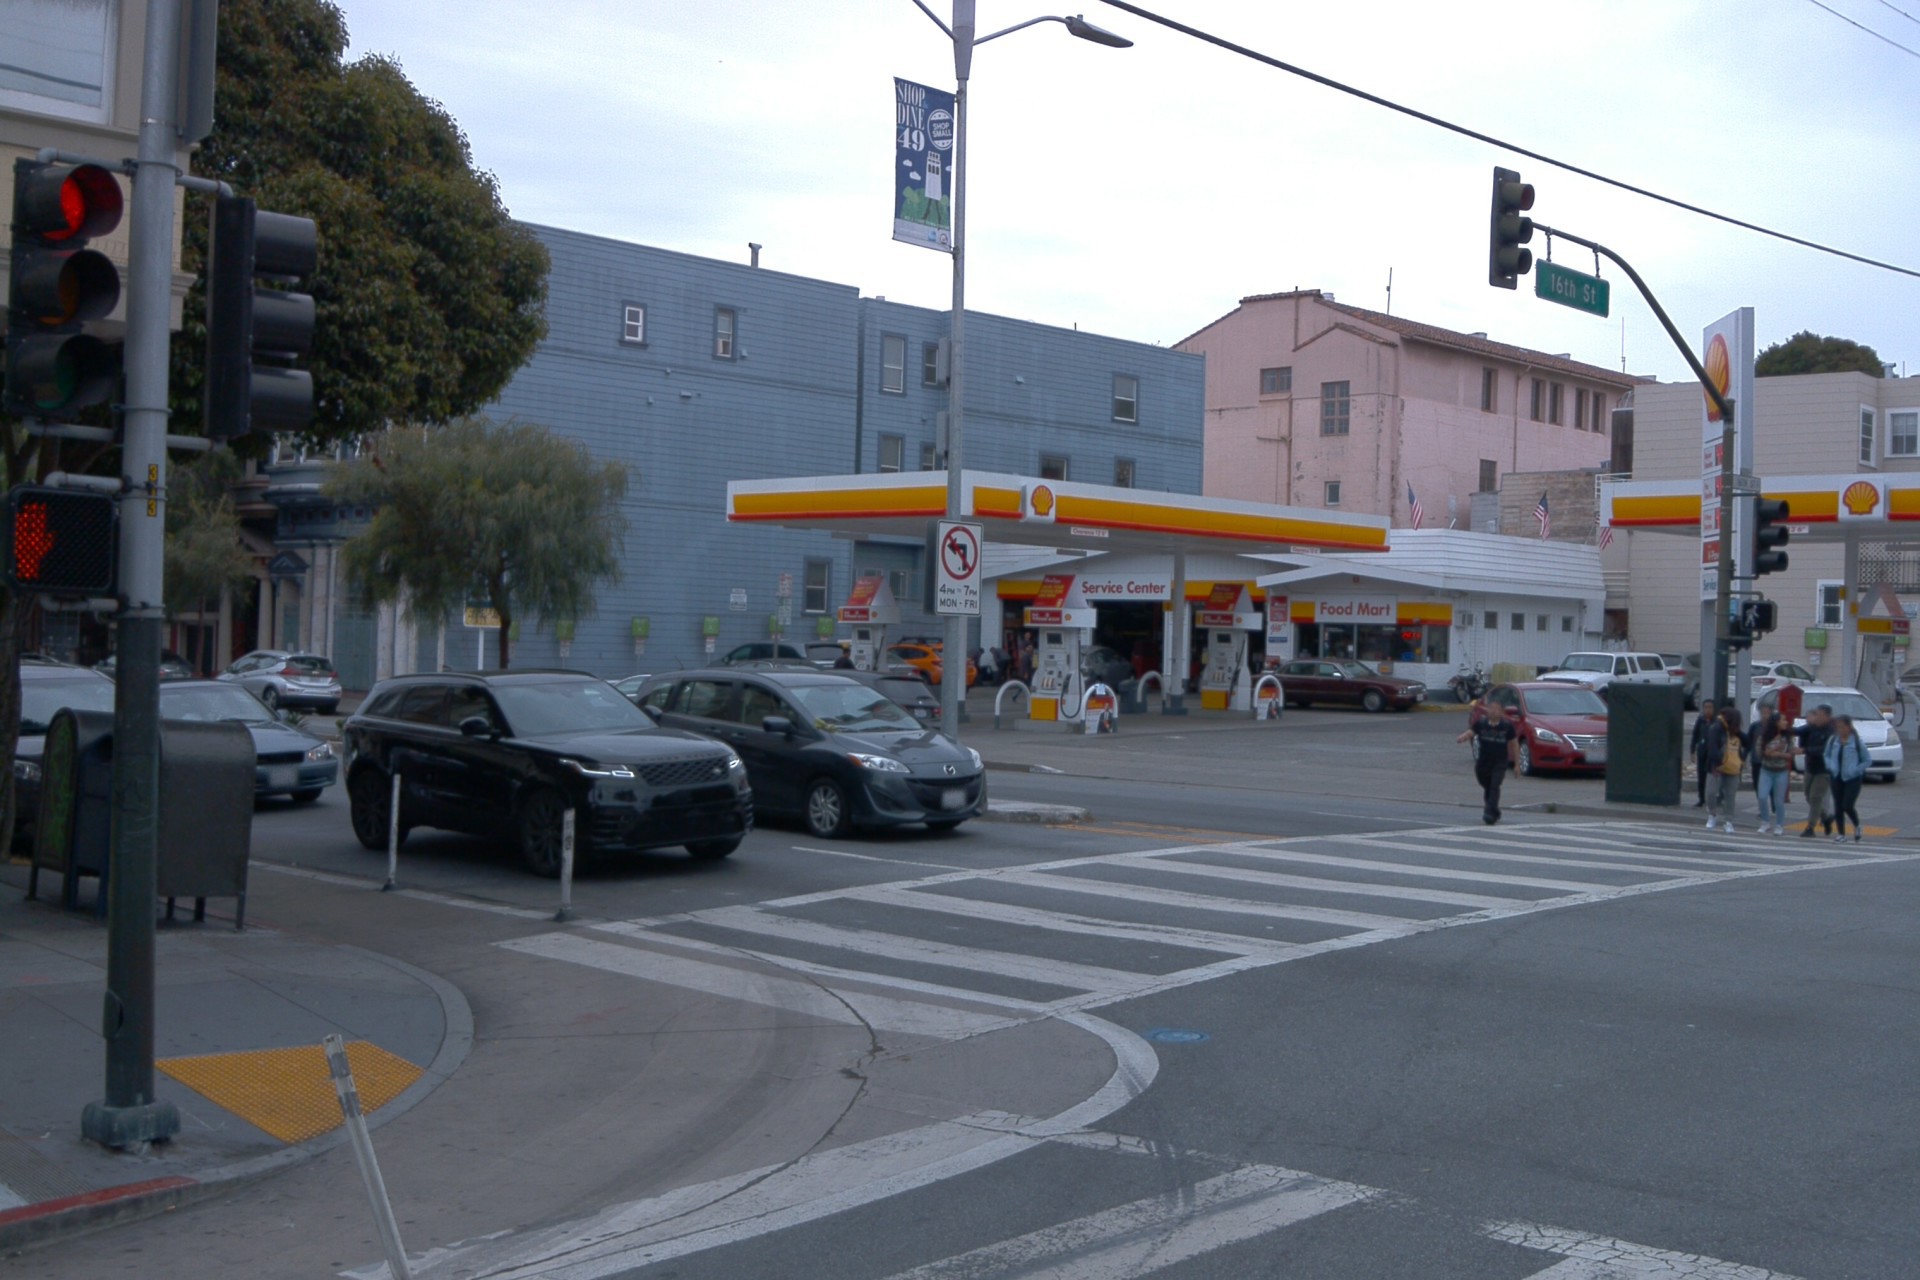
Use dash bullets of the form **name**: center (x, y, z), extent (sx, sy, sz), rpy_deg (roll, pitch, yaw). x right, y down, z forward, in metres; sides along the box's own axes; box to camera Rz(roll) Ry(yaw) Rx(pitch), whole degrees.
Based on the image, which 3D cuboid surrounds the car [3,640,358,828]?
- **car**: center (-9.092, 0.979, 23.860), extent (2.024, 1.870, 4.812), rpy_deg (-1, 1, -45)

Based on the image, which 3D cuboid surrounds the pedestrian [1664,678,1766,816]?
- **pedestrian**: center (9.207, 1.284, 25.171), extent (0.925, 1.600, 0.846), rpy_deg (1, 1, 40)

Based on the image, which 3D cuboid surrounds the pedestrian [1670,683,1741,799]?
- **pedestrian**: center (10.151, 1.361, 28.106), extent (0.709, 1.520, 0.676), rpy_deg (1, 1, 39)

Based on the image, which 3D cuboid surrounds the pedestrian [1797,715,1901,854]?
- **pedestrian**: center (10.225, 1.640, 23.738), extent (0.954, 1.497, 0.753), rpy_deg (-1, 1, -42)

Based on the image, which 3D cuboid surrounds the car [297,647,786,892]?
- **car**: center (-3.891, 1.030, 18.667), extent (2.104, 1.830, 4.647), rpy_deg (-1, 1, -45)

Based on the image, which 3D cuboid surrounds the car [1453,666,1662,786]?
- **car**: center (9.881, 1.369, 34.552), extent (2.007, 1.720, 4.676), rpy_deg (0, 1, -2)

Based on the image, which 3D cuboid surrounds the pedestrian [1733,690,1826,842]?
- **pedestrian**: center (10.003, 1.513, 25.191), extent (0.792, 1.760, 0.911), rpy_deg (1, 1, 41)

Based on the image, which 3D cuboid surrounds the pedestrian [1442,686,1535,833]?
- **pedestrian**: center (6.184, 1.374, 24.115), extent (0.836, 1.610, 1.131), rpy_deg (0, 1, 26)

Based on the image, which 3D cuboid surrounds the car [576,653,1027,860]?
- **car**: center (-1.737, 1.085, 21.322), extent (4.688, 1.789, 2.067), rpy_deg (1, 1, 44)

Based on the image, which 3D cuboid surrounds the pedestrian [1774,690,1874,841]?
- **pedestrian**: center (10.634, 1.525, 25.406), extent (0.887, 1.770, 0.839), rpy_deg (-1, 1, -44)
